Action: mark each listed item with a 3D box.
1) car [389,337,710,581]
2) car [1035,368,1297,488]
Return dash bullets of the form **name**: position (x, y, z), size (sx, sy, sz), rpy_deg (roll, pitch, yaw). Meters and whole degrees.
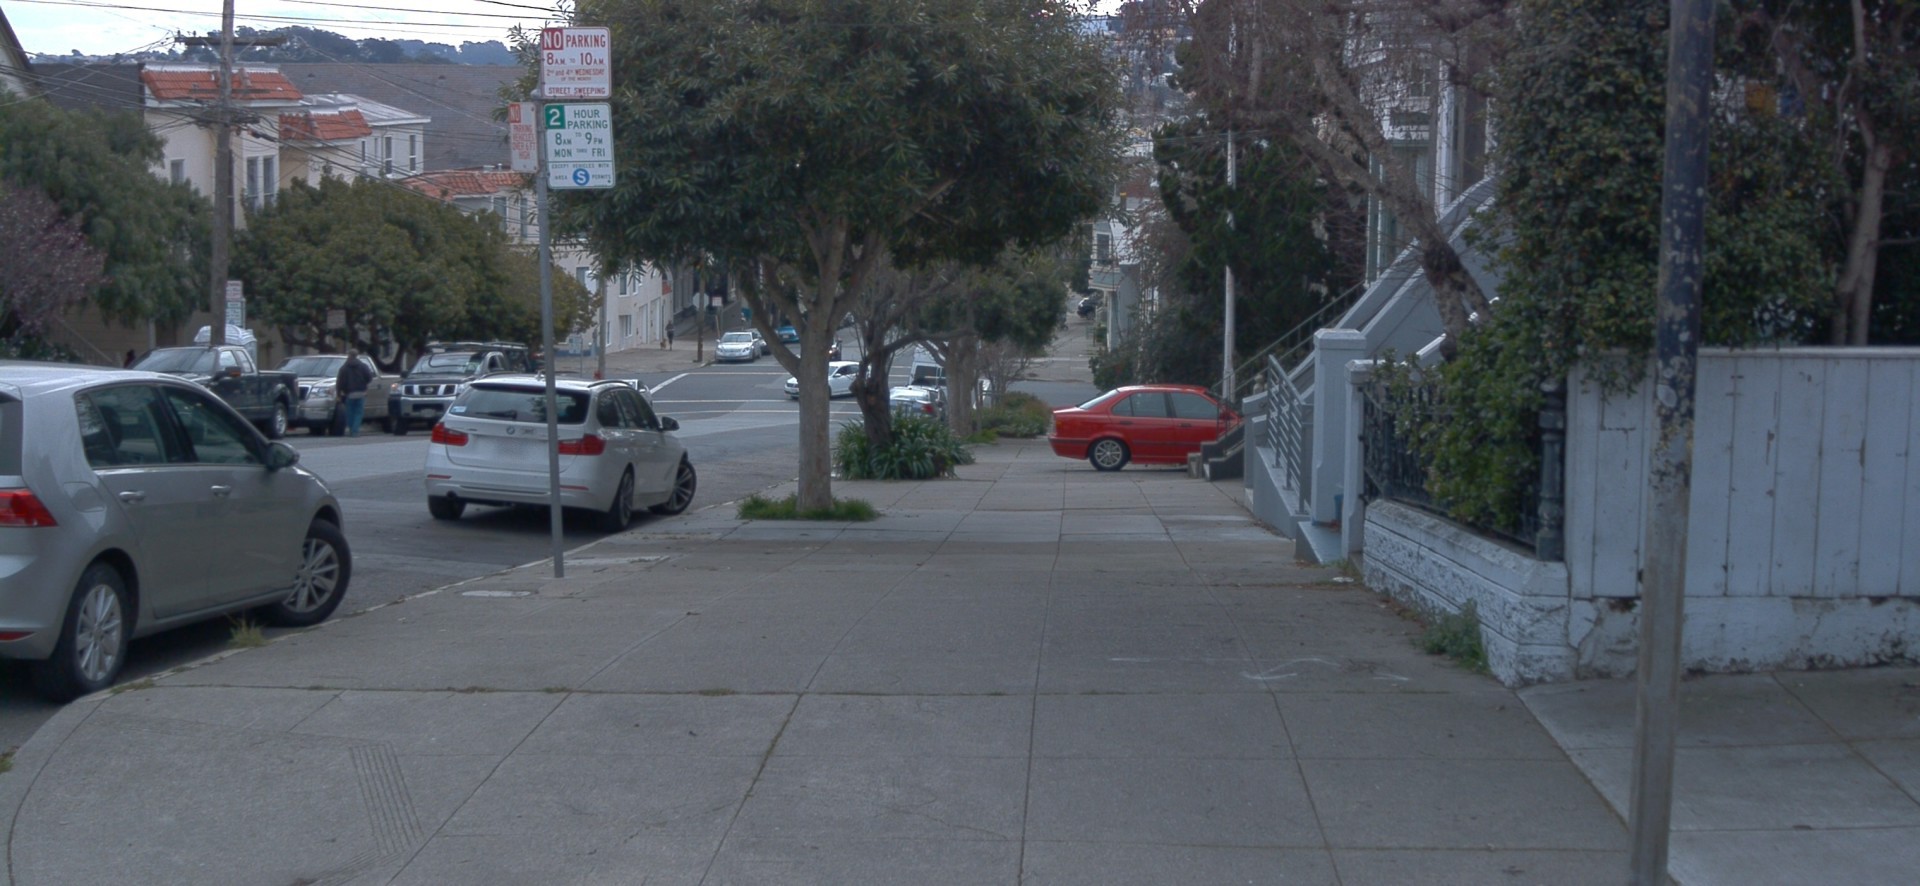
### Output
- **car**: position (-3.927, 0.018, 20.515), size (1.968, 1.903, 4.723), rpy_deg (1, 5, 3)
- **car**: position (3.281, -0.269, 32.533), size (4.010, 1.647, 1.790), rpy_deg (1, 3, 7)
